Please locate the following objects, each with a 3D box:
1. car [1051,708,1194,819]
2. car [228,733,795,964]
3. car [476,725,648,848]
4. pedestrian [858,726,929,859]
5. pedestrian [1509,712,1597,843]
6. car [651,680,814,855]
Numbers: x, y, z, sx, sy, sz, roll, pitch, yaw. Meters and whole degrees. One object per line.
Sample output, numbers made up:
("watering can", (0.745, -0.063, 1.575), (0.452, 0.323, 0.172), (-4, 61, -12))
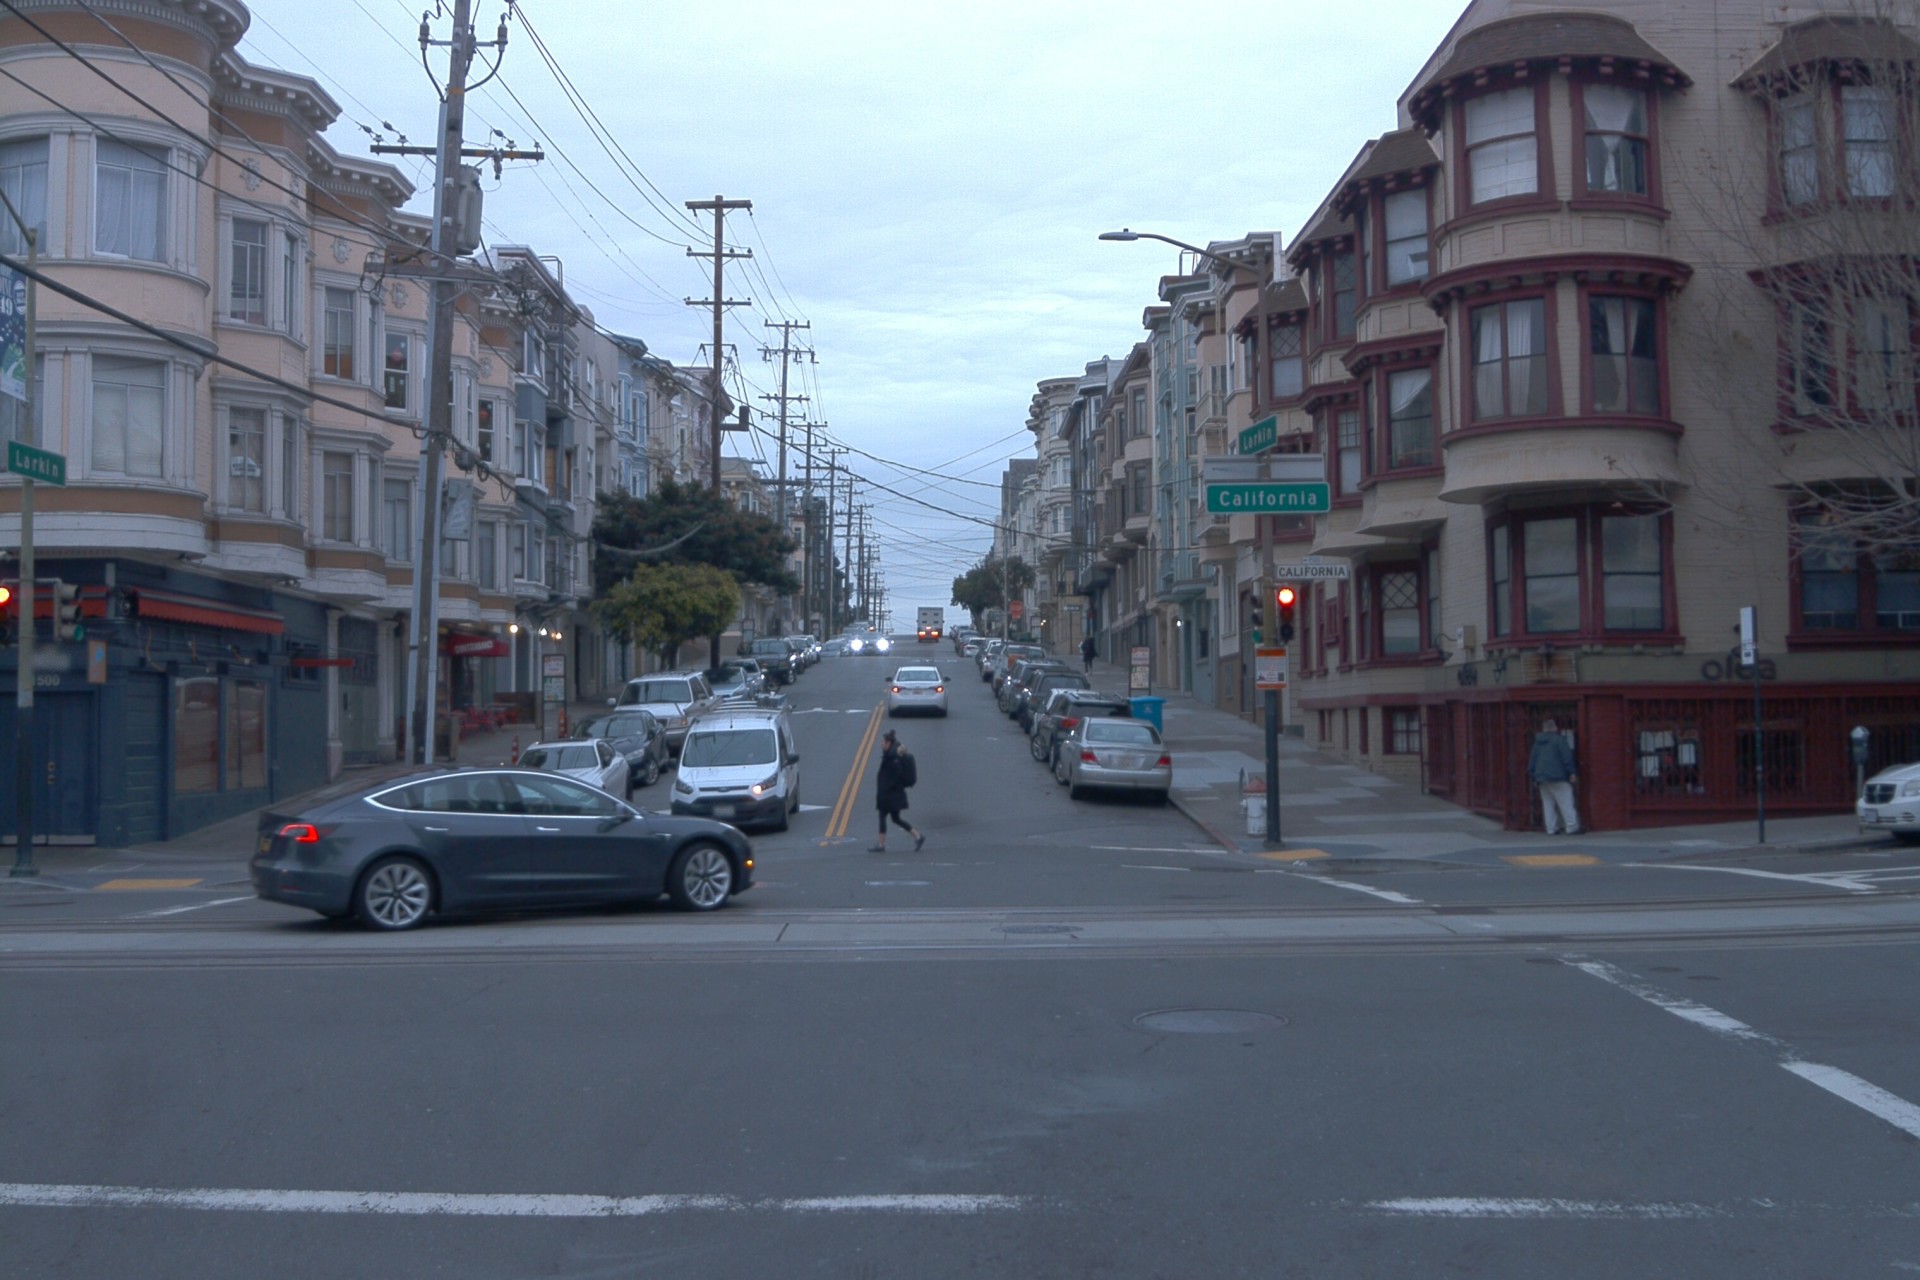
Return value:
("car", (2.936, 2.232, 38.183), (2.108, 1.700, 4.470), (0, 1, -2))
("car", (-4.113, 1.817, 19.141), (4.698, 1.630, 2.074), (-1, 1, -34))
("car", (-6.813, 2.472, 35.707), (2.150, 1.707, 4.680), (0, 1, -1))
("pedestrian", (-0.951, 2.146, 29.126), (0.943, 1.820, 0.722), (0, 1, -5))
("pedestrian", (8.727, 2.007, 30.267), (0.902, 1.830, 0.919), (-1, 1, -44))
("car", (-3.621, 1.986, 33.587), (2.196, 2.490, 4.690), (0, 1, -1))
